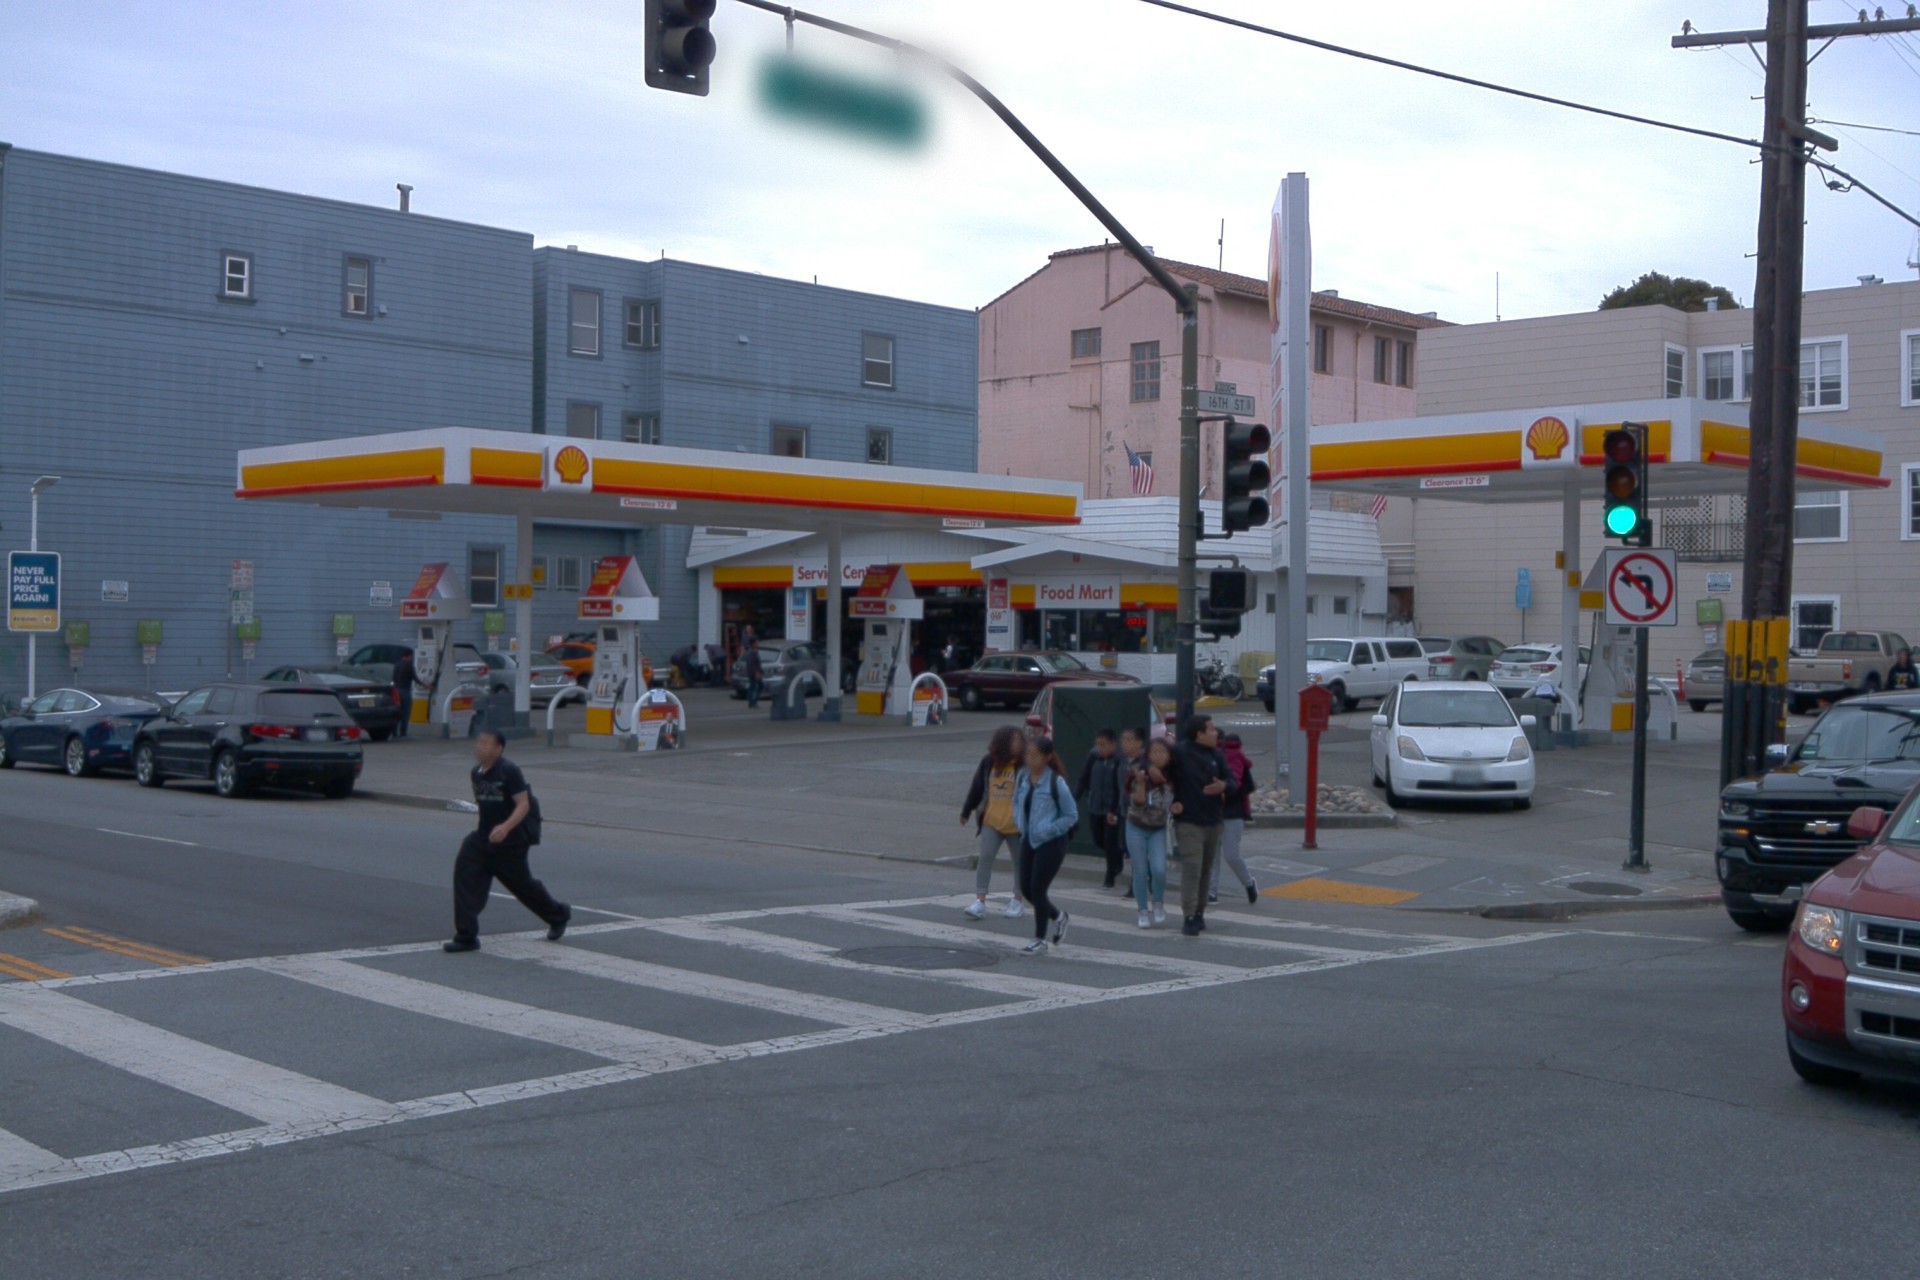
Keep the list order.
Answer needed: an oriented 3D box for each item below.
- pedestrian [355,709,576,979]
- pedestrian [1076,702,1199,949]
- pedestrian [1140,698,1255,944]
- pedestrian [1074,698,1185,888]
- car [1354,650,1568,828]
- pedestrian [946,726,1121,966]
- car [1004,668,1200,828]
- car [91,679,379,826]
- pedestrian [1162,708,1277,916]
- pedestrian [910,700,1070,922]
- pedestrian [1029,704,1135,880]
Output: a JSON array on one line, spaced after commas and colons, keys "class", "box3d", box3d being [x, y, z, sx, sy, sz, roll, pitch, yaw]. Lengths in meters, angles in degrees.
[{"class": "pedestrian", "box3d": [-3.228, 1.290, 13.536, 0.835, 1.610, 1.132, 1, 1, 34]}, {"class": "pedestrian", "box3d": [1.358, 1.373, 15.650, 0.794, 1.760, 0.909, 0, 1, 14]}, {"class": "pedestrian", "box3d": [1.804, 1.349, 15.703, 0.842, 1.770, 0.884, 0, 1, 7]}, {"class": "pedestrian", "box3d": [1.479, 1.318, 18.042, 0.699, 1.570, 0.682, 1, 1, 42]}, {"class": "car", "box3d": [6.203, 1.148, 26.057, 2.093, 1.930, 4.522, 0, 1, 7]}, {"class": "pedestrian", "box3d": [0.506, 1.371, 14.073, 0.753, 1.497, 0.954, 1, 1, 41]}, {"class": "car", "box3d": [1.708, 1.290, 26.427, 2.008, 1.720, 4.676, 0, 1, -2]}, {"class": "car", "box3d": [-10.335, 1.520, 29.291, 4.261, 1.765, 2.158, 1, 1, 44]}, {"class": "pedestrian", "box3d": [2.238, 1.458, 17.808, 0.708, 1.700, 0.709, 1, 1, 41]}, {"class": "pedestrian", "box3d": [0.234, 1.296, 15.997, 0.925, 1.600, 0.846, 1, 1, 33]}, {"class": "pedestrian", "box3d": [1.112, 1.369, 18.824, 0.709, 1.520, 0.676, 1, 1, 37]}]
